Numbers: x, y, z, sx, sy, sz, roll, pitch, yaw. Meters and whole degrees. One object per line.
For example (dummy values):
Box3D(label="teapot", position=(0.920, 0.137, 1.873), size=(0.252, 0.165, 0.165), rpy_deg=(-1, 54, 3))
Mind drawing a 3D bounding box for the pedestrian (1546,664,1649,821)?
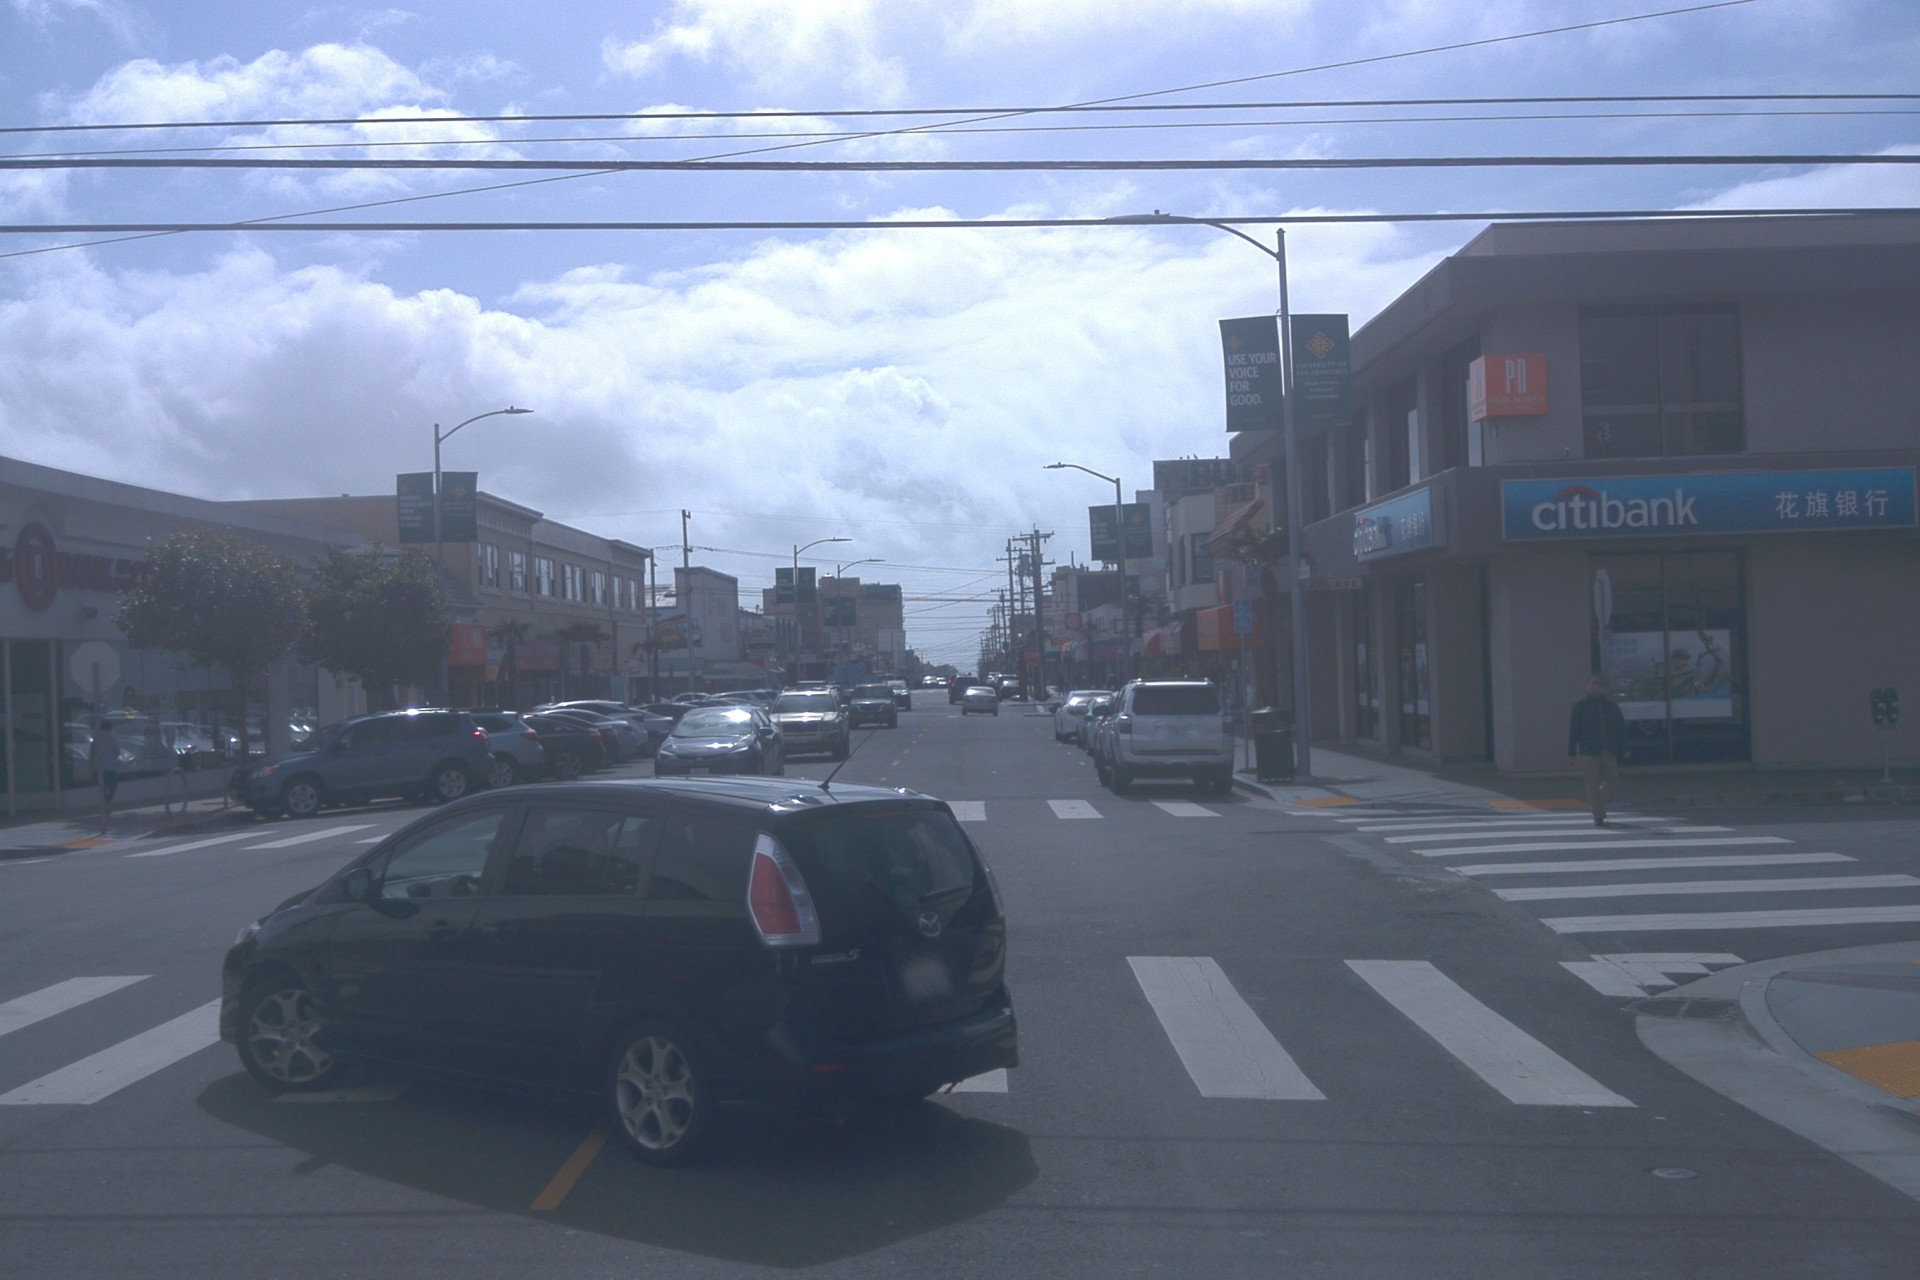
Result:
Box3D(label="pedestrian", position=(7.166, 1.138, 23.353), size=(0.849, 1.734, 0.948), rpy_deg=(0, -1, -1))

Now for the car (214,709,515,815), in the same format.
Box3D(label="car", position=(-10.490, 2.097, 36.646), size=(4.689, 1.670, 2.069), rpy_deg=(0, -1, -36))

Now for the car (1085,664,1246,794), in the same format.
Box3D(label="car", position=(3.290, 1.390, 34.046), size=(2.072, 1.977, 4.682), rpy_deg=(0, -1, -1))

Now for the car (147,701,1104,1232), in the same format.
Box3D(label="car", position=(-1.781, 1.313, 10.172), size=(4.563, 1.972, 2.100), rpy_deg=(-1, -1, 38))

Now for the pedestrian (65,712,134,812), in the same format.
Box3D(label="pedestrian", position=(-14.493, 2.039, 34.955), size=(0.791, 1.643, 0.931), rpy_deg=(0, -1, -2))

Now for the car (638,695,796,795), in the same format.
Box3D(label="car", position=(-4.136, 1.766, 35.992), size=(2.013, 1.553, 4.581), rpy_deg=(0, -1, 2))
